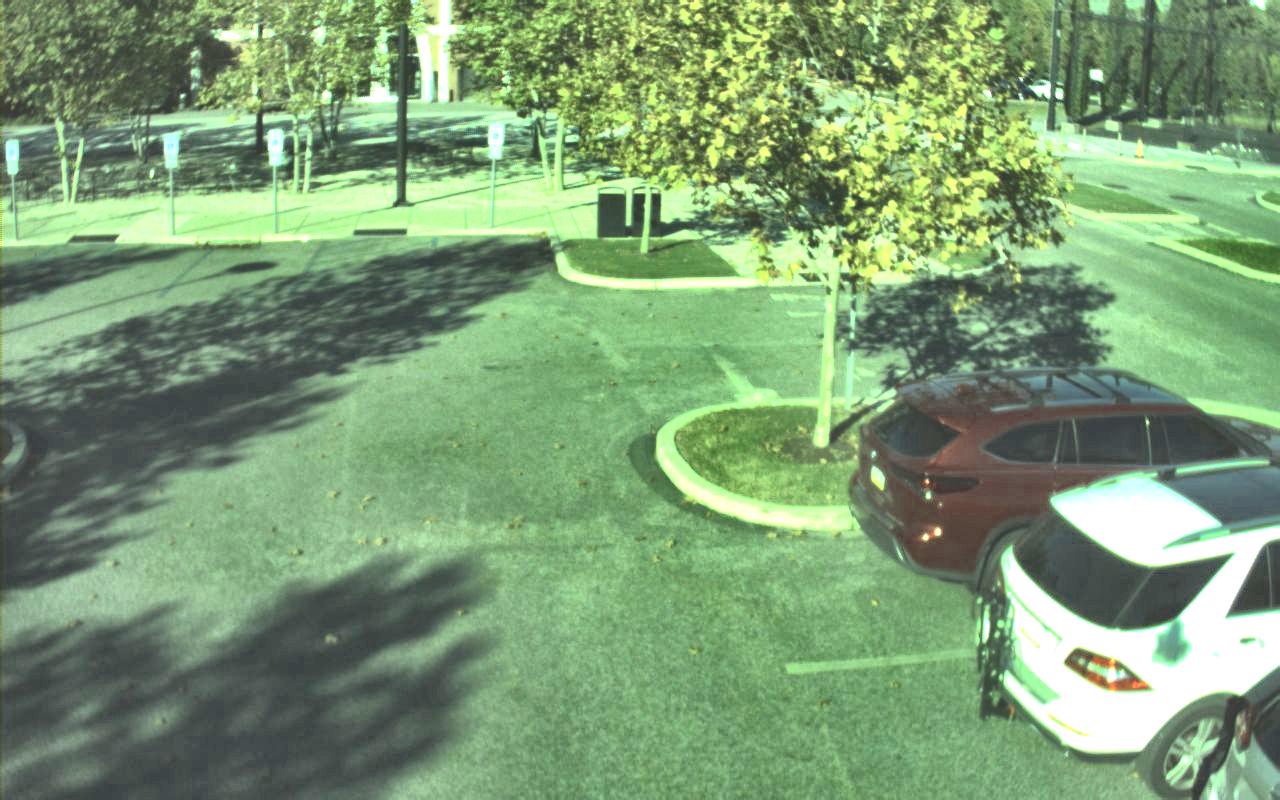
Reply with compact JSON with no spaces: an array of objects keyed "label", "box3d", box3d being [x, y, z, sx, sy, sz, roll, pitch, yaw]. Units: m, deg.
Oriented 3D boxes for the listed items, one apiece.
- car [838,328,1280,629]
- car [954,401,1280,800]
[{"label":"car","box3d":[4.128,0.539,10.384,4.498,1.696,1.977,-3,16,-8]},{"label":"car","box3d":[4.586,1.313,7.663,4.526,1.690,1.988,-4,17,-11]}]
